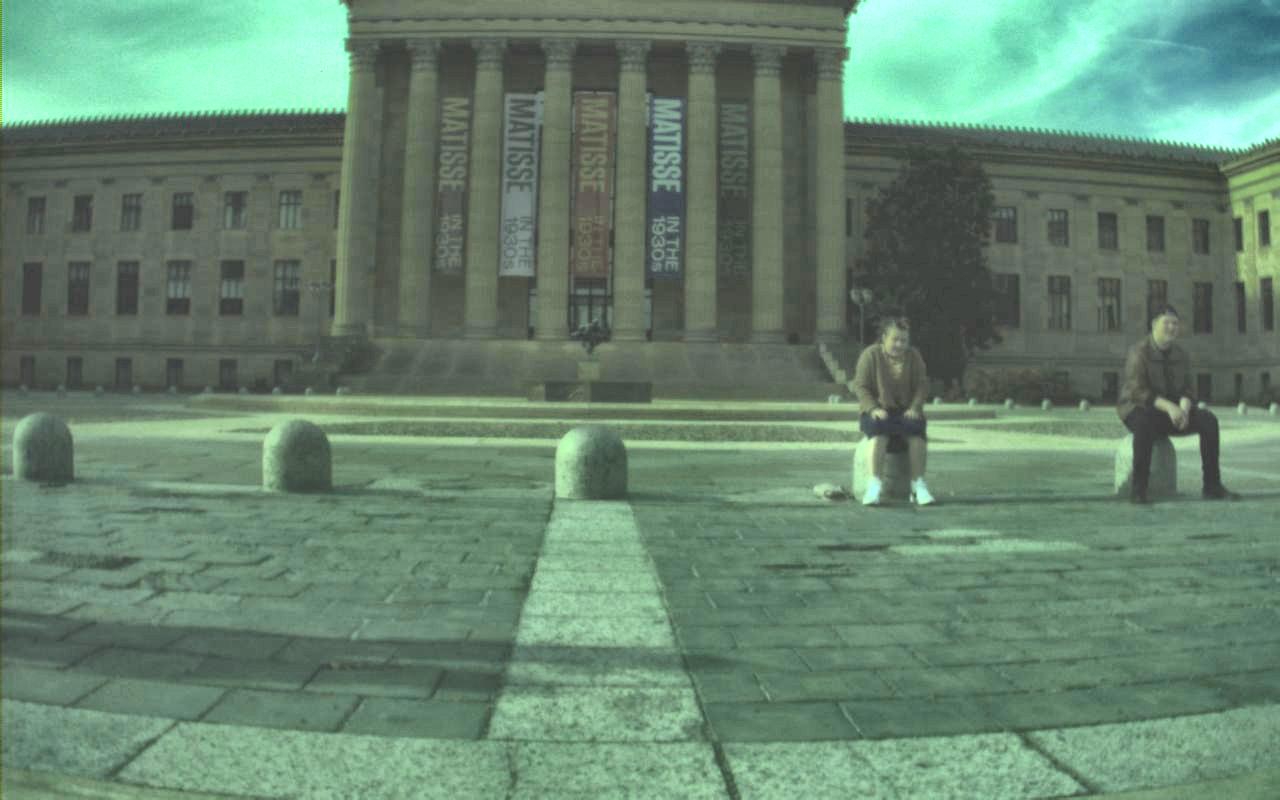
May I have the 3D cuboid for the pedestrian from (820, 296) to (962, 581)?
[{"bbox_3d":[1.584,0.234,7.929,0.791,1.730,0.787,0,0,3],"label":"pedestrian"}]

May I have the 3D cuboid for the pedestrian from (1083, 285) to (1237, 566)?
[{"bbox_3d":[3.488,0.170,7.878,0.821,1.785,0.825,0,0,1],"label":"pedestrian"}]
